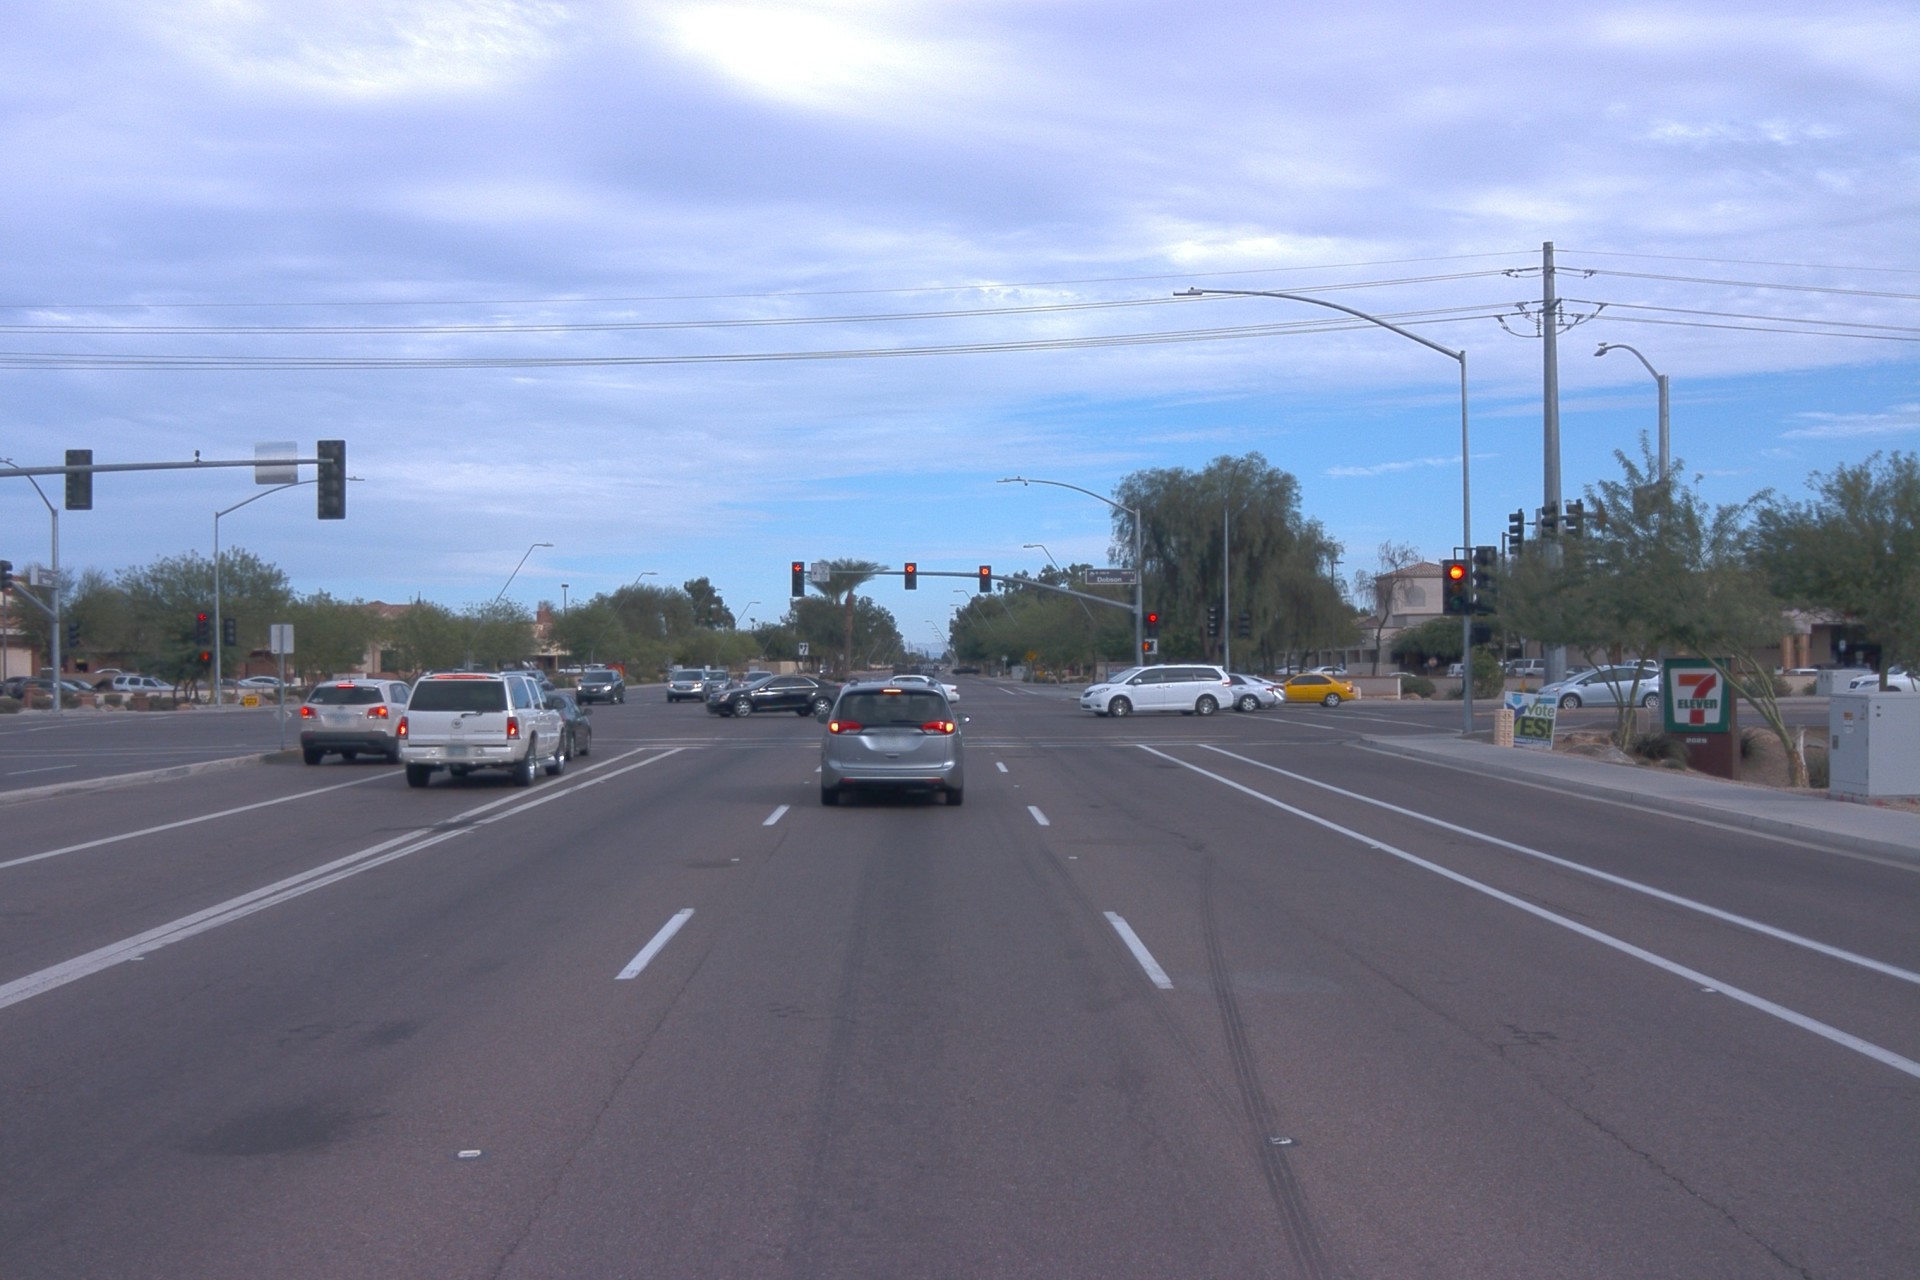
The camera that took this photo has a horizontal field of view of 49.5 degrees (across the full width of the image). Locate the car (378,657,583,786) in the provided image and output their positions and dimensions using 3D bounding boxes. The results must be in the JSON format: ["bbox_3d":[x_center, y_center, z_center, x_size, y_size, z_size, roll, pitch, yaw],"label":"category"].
[{"bbox_3d":[-8.034,1.301,35.495,2.345,2.010,5.378,0,0,-1],"label":"car"}]

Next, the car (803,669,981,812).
[{"bbox_3d":[-0.975,1.388,30.559,2.383,1.890,4.986,0,0,-1],"label":"car"}]
